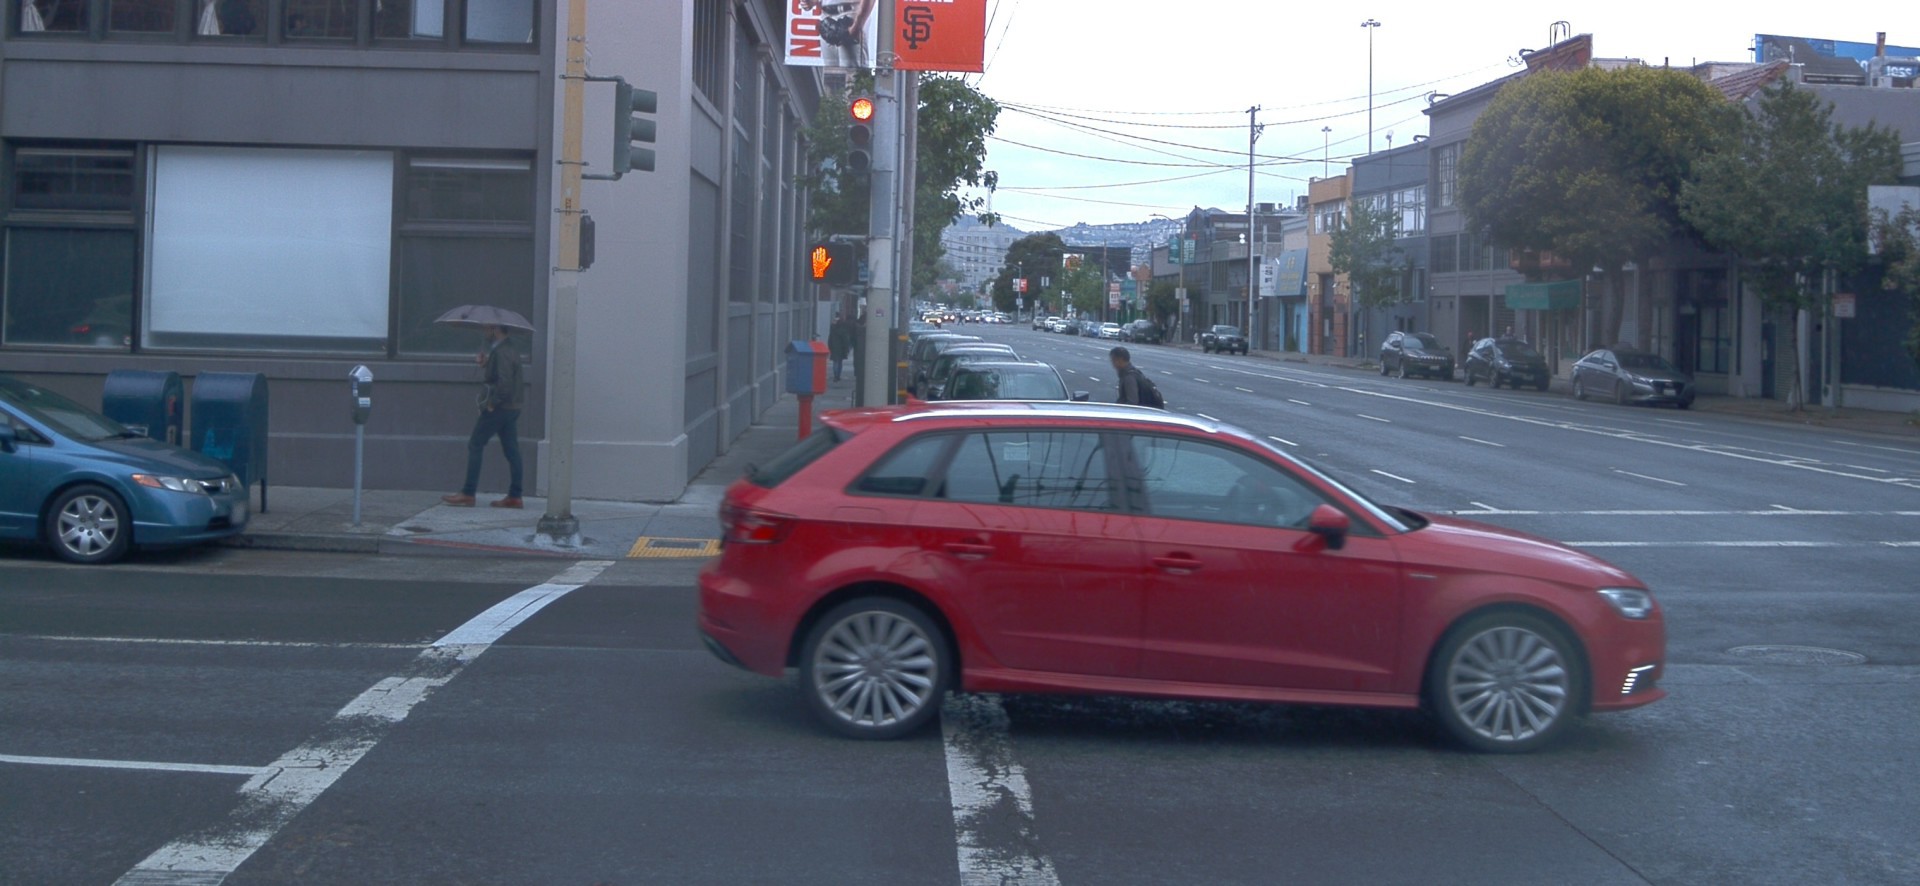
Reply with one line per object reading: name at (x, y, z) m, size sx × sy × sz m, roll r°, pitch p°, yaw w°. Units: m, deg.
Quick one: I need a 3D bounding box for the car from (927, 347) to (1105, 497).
car at (0.607, -0.341, 26.065) m, size 2.020 × 1.454 × 4.437 m, roll 0°, pitch 5°, yaw -1°

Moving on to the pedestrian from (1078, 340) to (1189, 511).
pedestrian at (1.823, -0.208, 21.691) m, size 1.014 × 1.679 × 1.004 m, roll 1°, pitch 2°, yaw 13°

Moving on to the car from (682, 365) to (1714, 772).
car at (0.992, 0.483, 9.801) m, size 4.392 × 1.567 × 2.032 m, roll 0°, pitch 4°, yaw -2°

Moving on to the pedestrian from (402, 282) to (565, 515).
pedestrian at (-4.447, -0.451, 19.466) m, size 1.284 × 2.082 × 1.185 m, roll 0°, pitch 1°, yaw -2°
